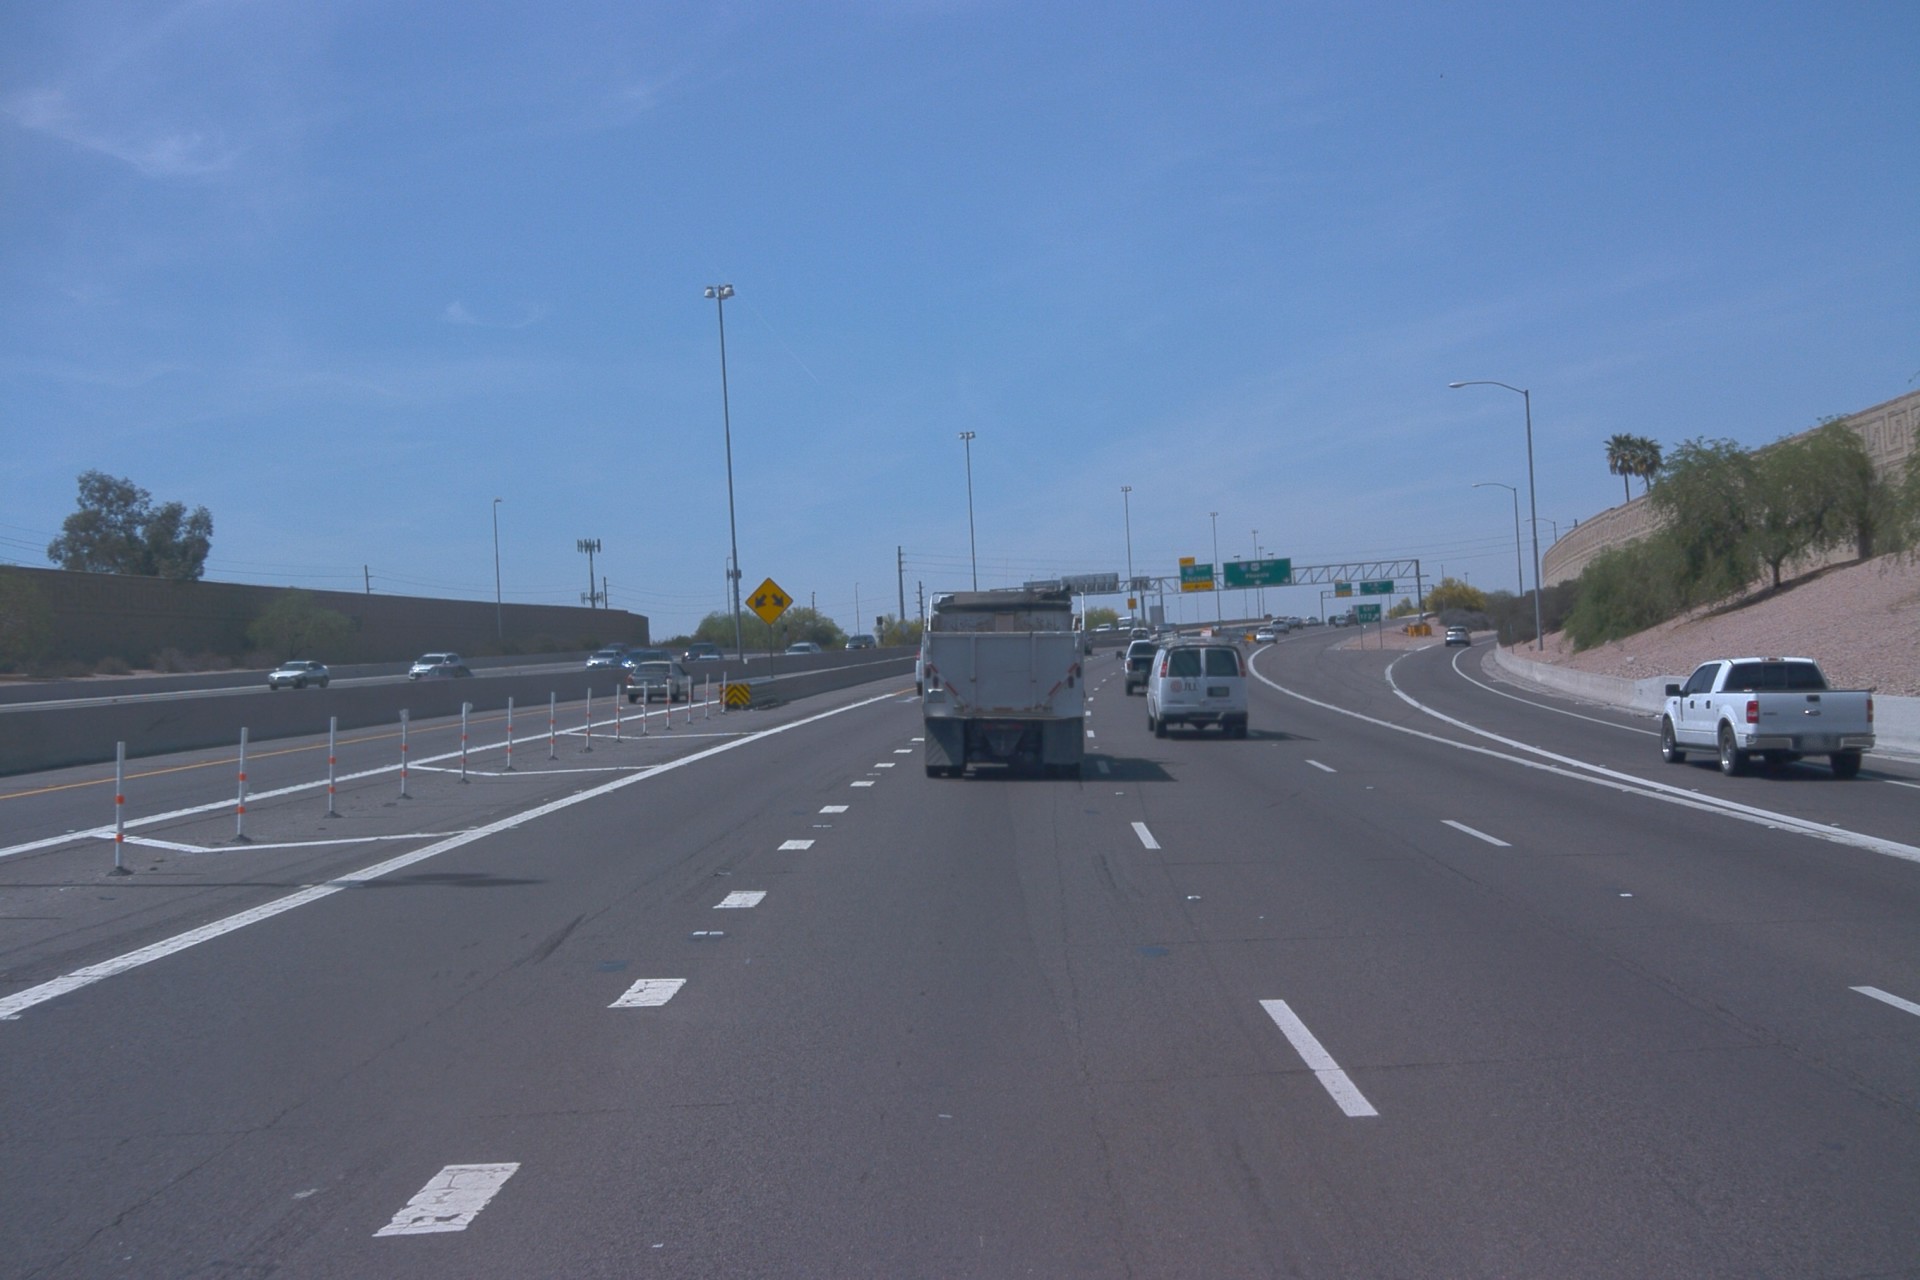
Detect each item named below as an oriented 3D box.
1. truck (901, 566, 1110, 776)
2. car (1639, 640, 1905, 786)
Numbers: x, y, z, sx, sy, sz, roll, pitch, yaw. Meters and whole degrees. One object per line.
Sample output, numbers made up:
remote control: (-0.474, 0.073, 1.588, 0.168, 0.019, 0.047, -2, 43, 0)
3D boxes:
truck: (0.810, 0.488, 34.629, 3.162, 3.170, 6.476, 0, 0, 2)
car: (13.155, 1.113, 34.019, 2.519, 2.190, 5.662, 0, 0, 5)
